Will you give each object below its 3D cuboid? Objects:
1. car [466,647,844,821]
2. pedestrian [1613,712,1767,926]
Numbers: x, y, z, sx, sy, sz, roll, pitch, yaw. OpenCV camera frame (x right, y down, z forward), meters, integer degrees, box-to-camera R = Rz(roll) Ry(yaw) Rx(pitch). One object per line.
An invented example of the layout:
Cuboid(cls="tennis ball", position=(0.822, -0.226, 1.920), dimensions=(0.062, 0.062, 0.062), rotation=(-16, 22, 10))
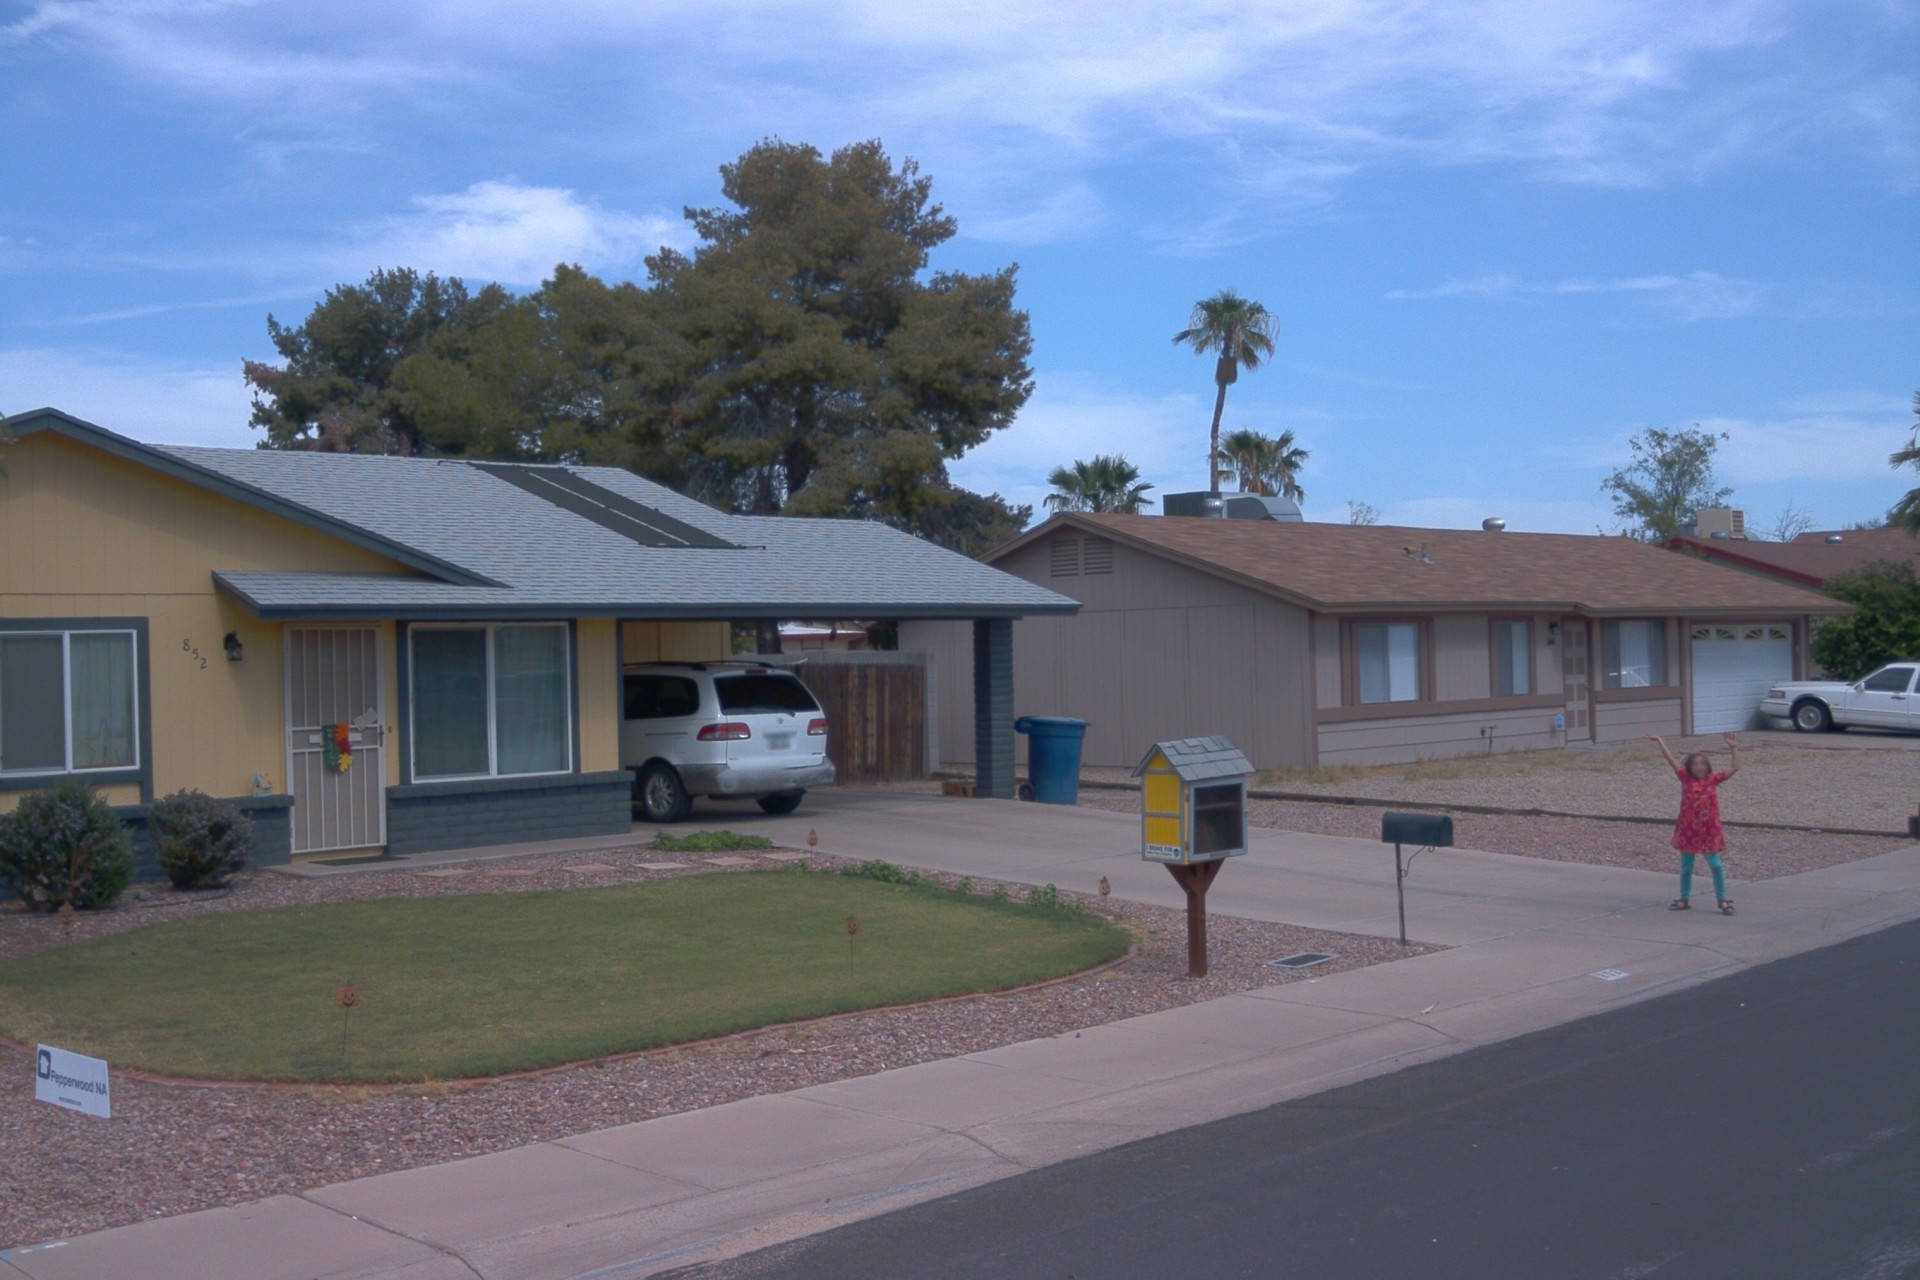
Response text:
Cuboid(cls="car", position=(-3.501, 0.976, 23.515), dimensions=(4.247, 1.790, 1.856), rotation=(0, 0, 40))
Cuboid(cls="pedestrian", position=(5.779, 1.381, 16.469), dimensions=(1.015, 1.580, 0.963), rotation=(0, 0, 27))
